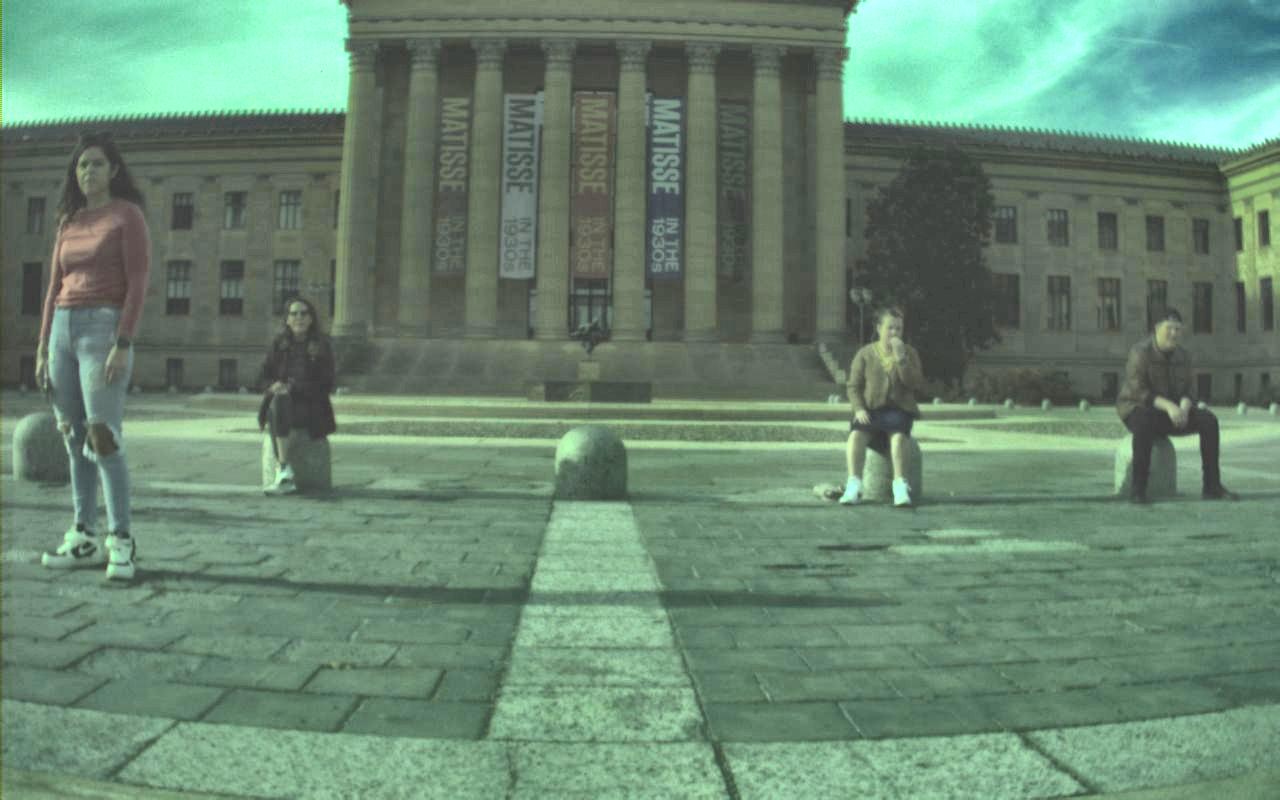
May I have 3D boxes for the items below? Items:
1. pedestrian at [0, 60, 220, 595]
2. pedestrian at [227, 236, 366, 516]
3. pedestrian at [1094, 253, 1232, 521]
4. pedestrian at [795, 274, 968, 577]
[{"bbox_3d":[-1.978,-0.249,4.189,0.778,1.789,0.790,0,0,-11],"label":"pedestrian"},{"bbox_3d":[-2.171,-0.148,7.720,0.728,1.678,0.737,0,0,-1],"label":"pedestrian"},{"bbox_3d":[3.511,-0.075,7.877,0.716,1.701,0.747,0,0,-3],"label":"pedestrian"},{"bbox_3d":[1.518,0.151,7.894,0.837,1.804,0.841,0,0,-12],"label":"pedestrian"}]
